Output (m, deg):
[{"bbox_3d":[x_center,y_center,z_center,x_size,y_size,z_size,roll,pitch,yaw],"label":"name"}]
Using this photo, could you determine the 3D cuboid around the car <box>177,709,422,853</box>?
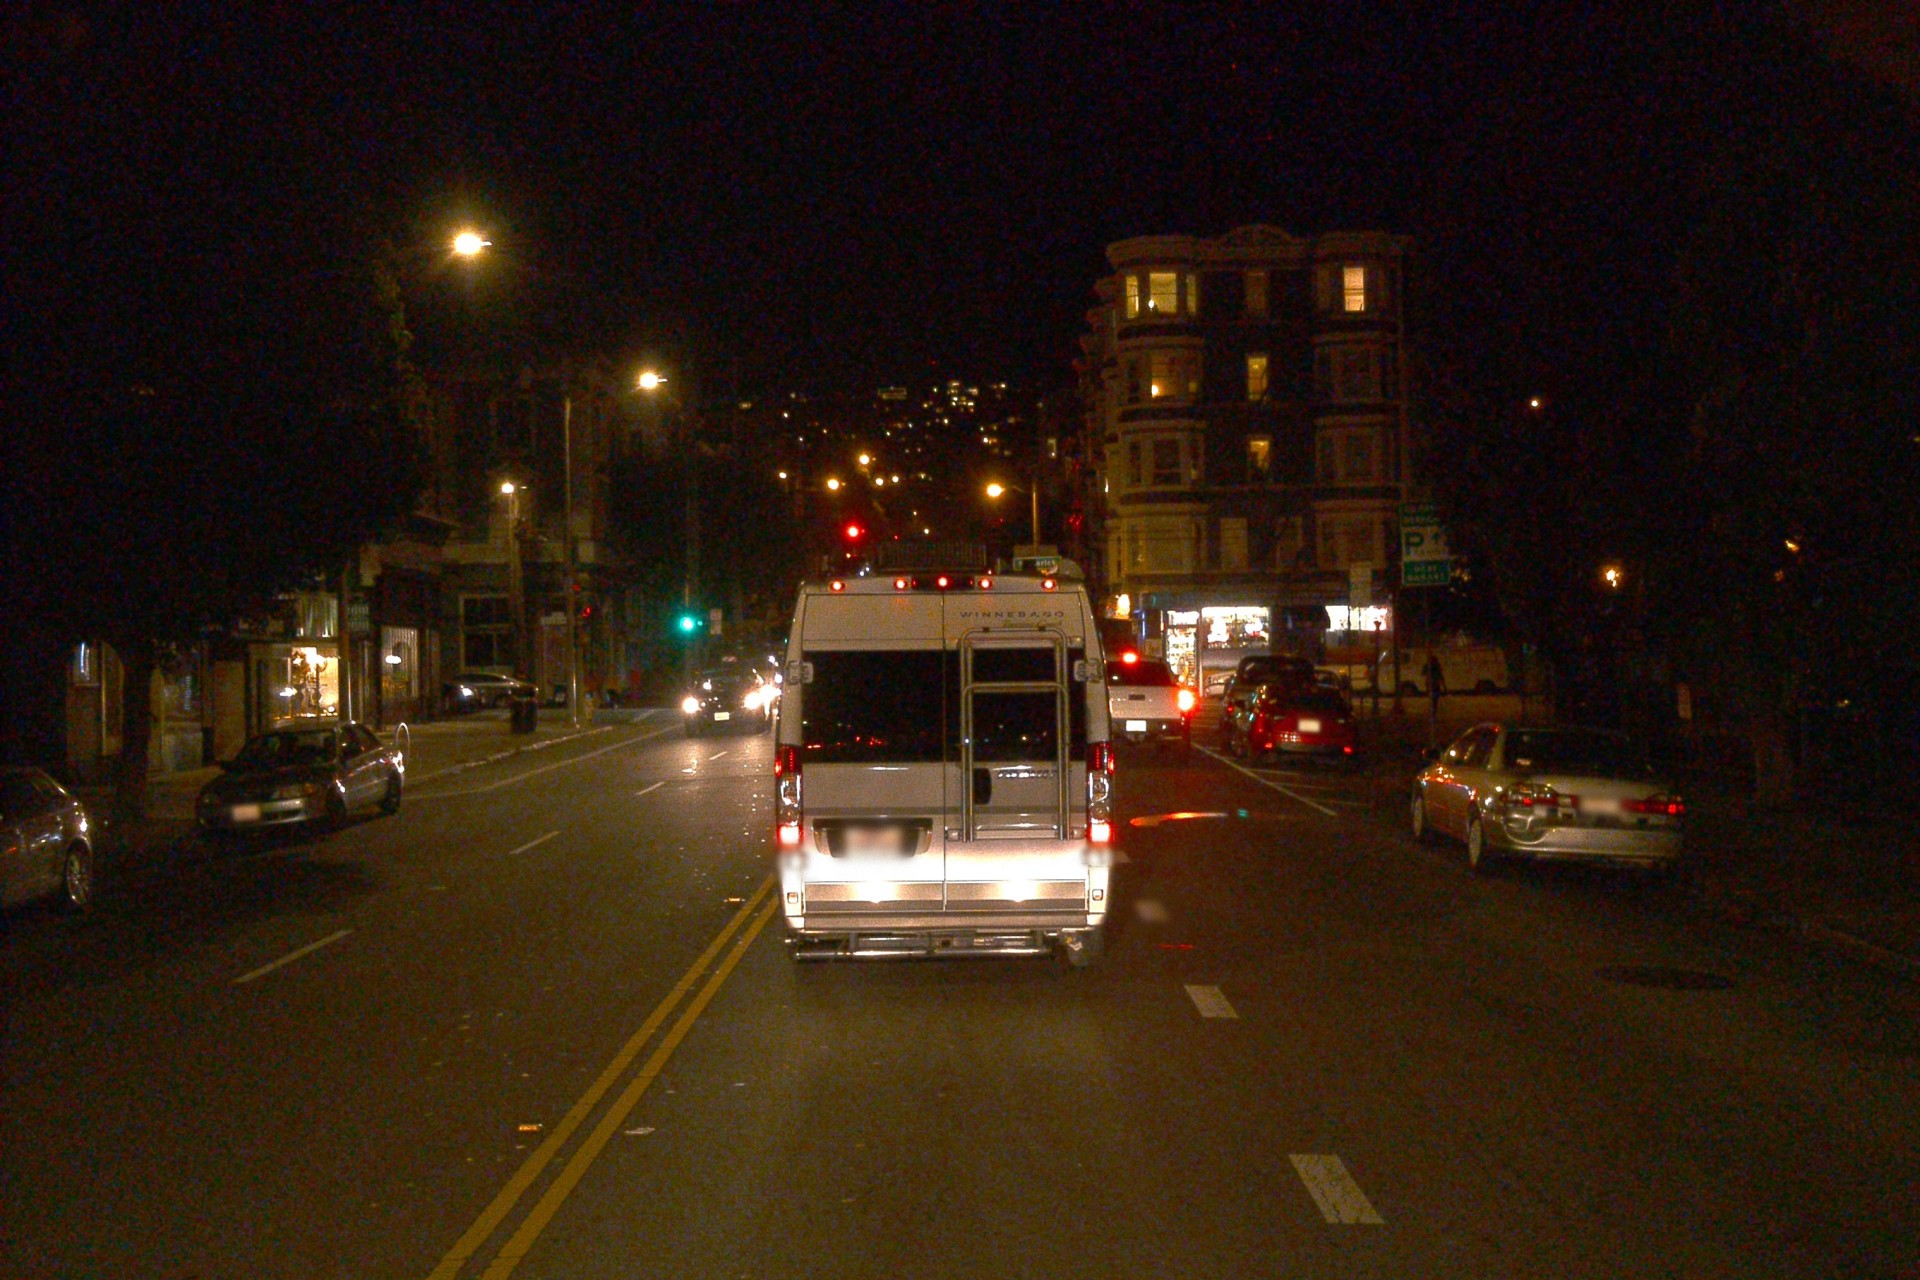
[{"bbox_3d":[-8.729,1.813,27.693,1.850,1.600,4.445,0,0,0],"label":"car"}]

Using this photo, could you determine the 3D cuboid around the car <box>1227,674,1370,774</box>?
[{"bbox_3d":[5.686,1.370,35.123,1.963,1.500,4.260,0,0,3],"label":"car"}]

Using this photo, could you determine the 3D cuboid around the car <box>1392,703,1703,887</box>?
[{"bbox_3d":[5.580,1.413,20.240,1.867,1.430,4.637,0,0,2],"label":"car"}]

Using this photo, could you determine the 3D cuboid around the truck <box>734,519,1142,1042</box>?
[{"bbox_3d":[-0.113,0.796,14.415,2.338,3.000,5.110,0,0,0],"label":"truck"}]

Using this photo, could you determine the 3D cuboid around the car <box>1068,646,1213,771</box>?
[{"bbox_3d":[3.079,1.125,36.311,2.171,2.000,5.446,0,0,1],"label":"car"}]
